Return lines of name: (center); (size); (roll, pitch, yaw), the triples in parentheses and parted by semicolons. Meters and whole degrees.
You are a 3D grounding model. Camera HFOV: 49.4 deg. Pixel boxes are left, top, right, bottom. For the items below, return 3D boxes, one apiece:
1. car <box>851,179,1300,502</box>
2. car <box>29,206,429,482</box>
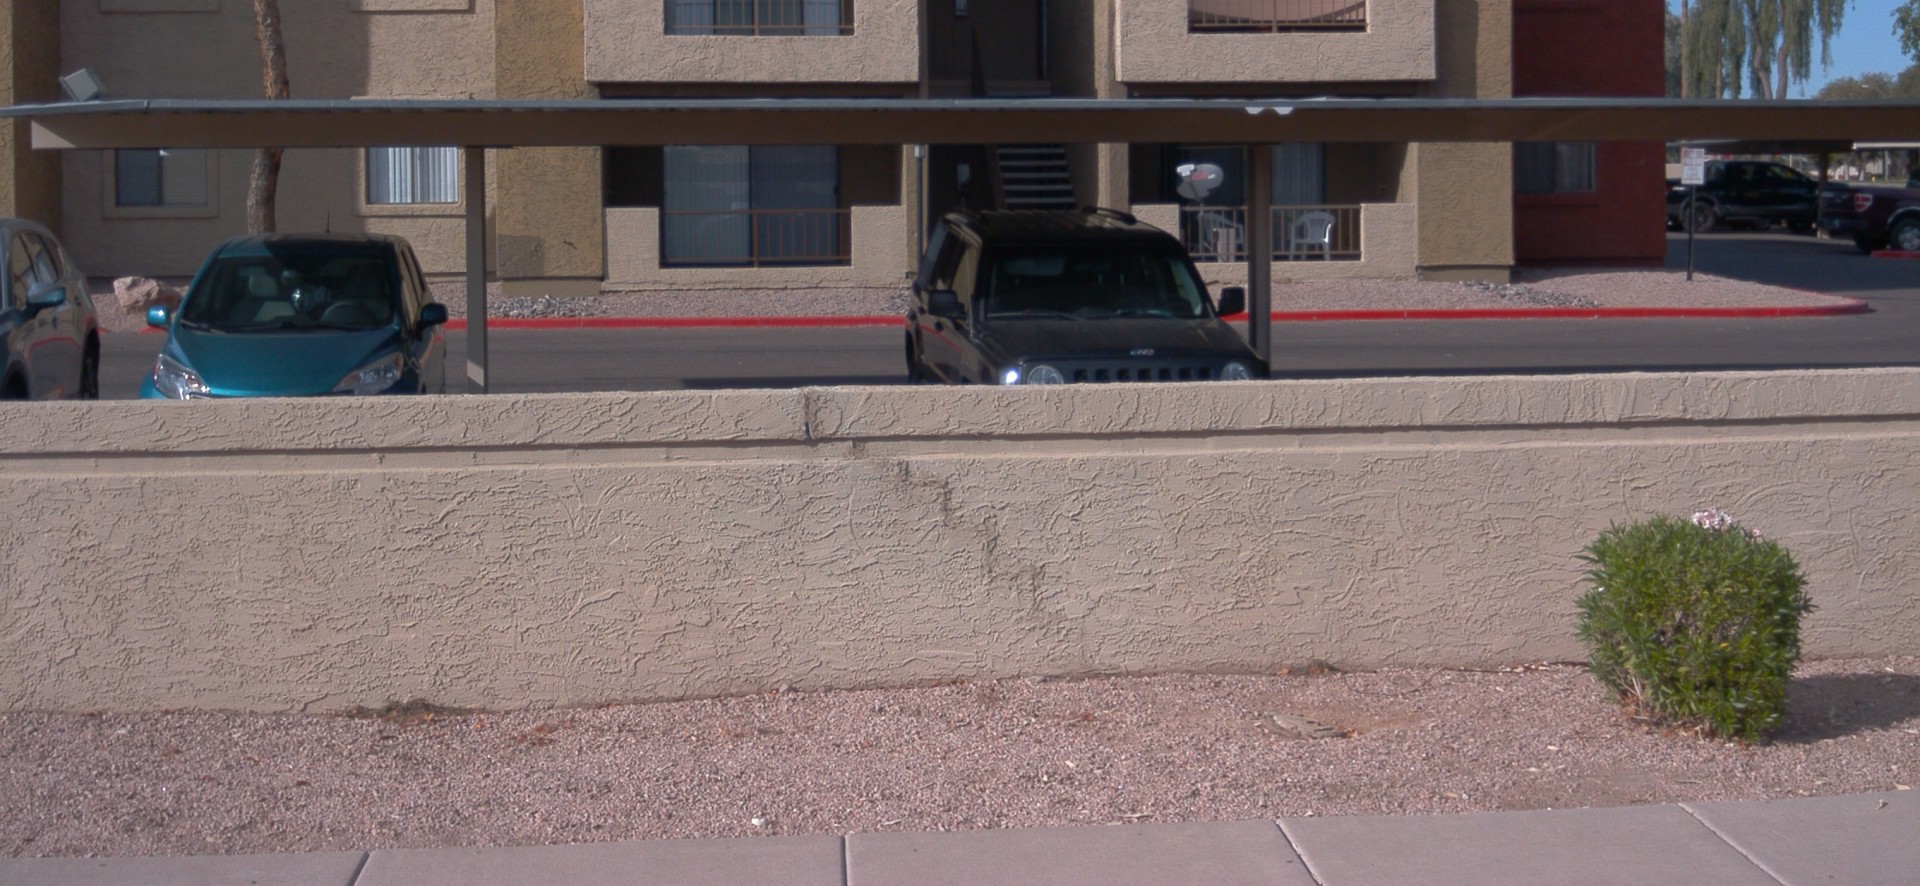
car: (0.533, -0.765, 13.464); (2.065, 1.725, 4.314); (-1, 5, -8)
car: (-4.647, -0.750, 13.833); (1.937, 1.555, 3.814); (-1, 5, -11)
